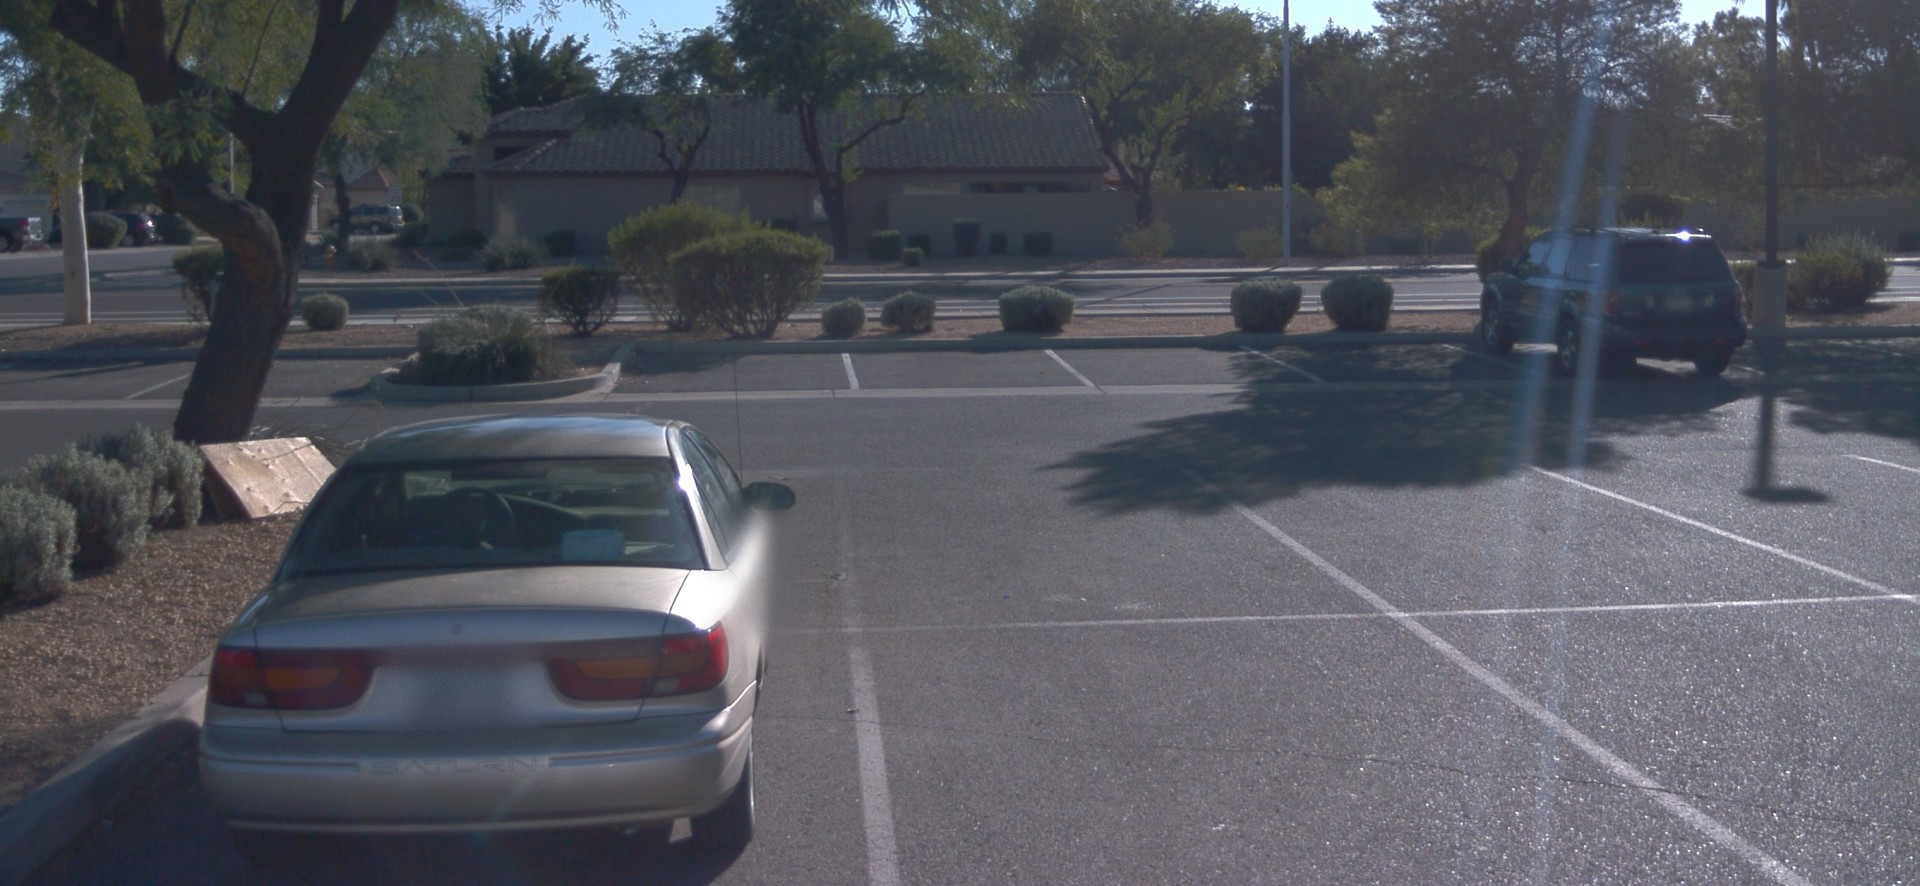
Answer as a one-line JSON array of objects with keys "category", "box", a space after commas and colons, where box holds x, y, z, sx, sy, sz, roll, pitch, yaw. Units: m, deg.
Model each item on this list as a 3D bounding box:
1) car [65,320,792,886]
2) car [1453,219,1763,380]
[{"category": "car", "box": [-1.664, 0.429, 8.143, 1.951, 1.597, 4.525, 0, 5, -4]}, {"category": "car", "box": [8.010, -1.891, 26.404, 2.103, 1.842, 4.682, 0, 5, -6]}]
